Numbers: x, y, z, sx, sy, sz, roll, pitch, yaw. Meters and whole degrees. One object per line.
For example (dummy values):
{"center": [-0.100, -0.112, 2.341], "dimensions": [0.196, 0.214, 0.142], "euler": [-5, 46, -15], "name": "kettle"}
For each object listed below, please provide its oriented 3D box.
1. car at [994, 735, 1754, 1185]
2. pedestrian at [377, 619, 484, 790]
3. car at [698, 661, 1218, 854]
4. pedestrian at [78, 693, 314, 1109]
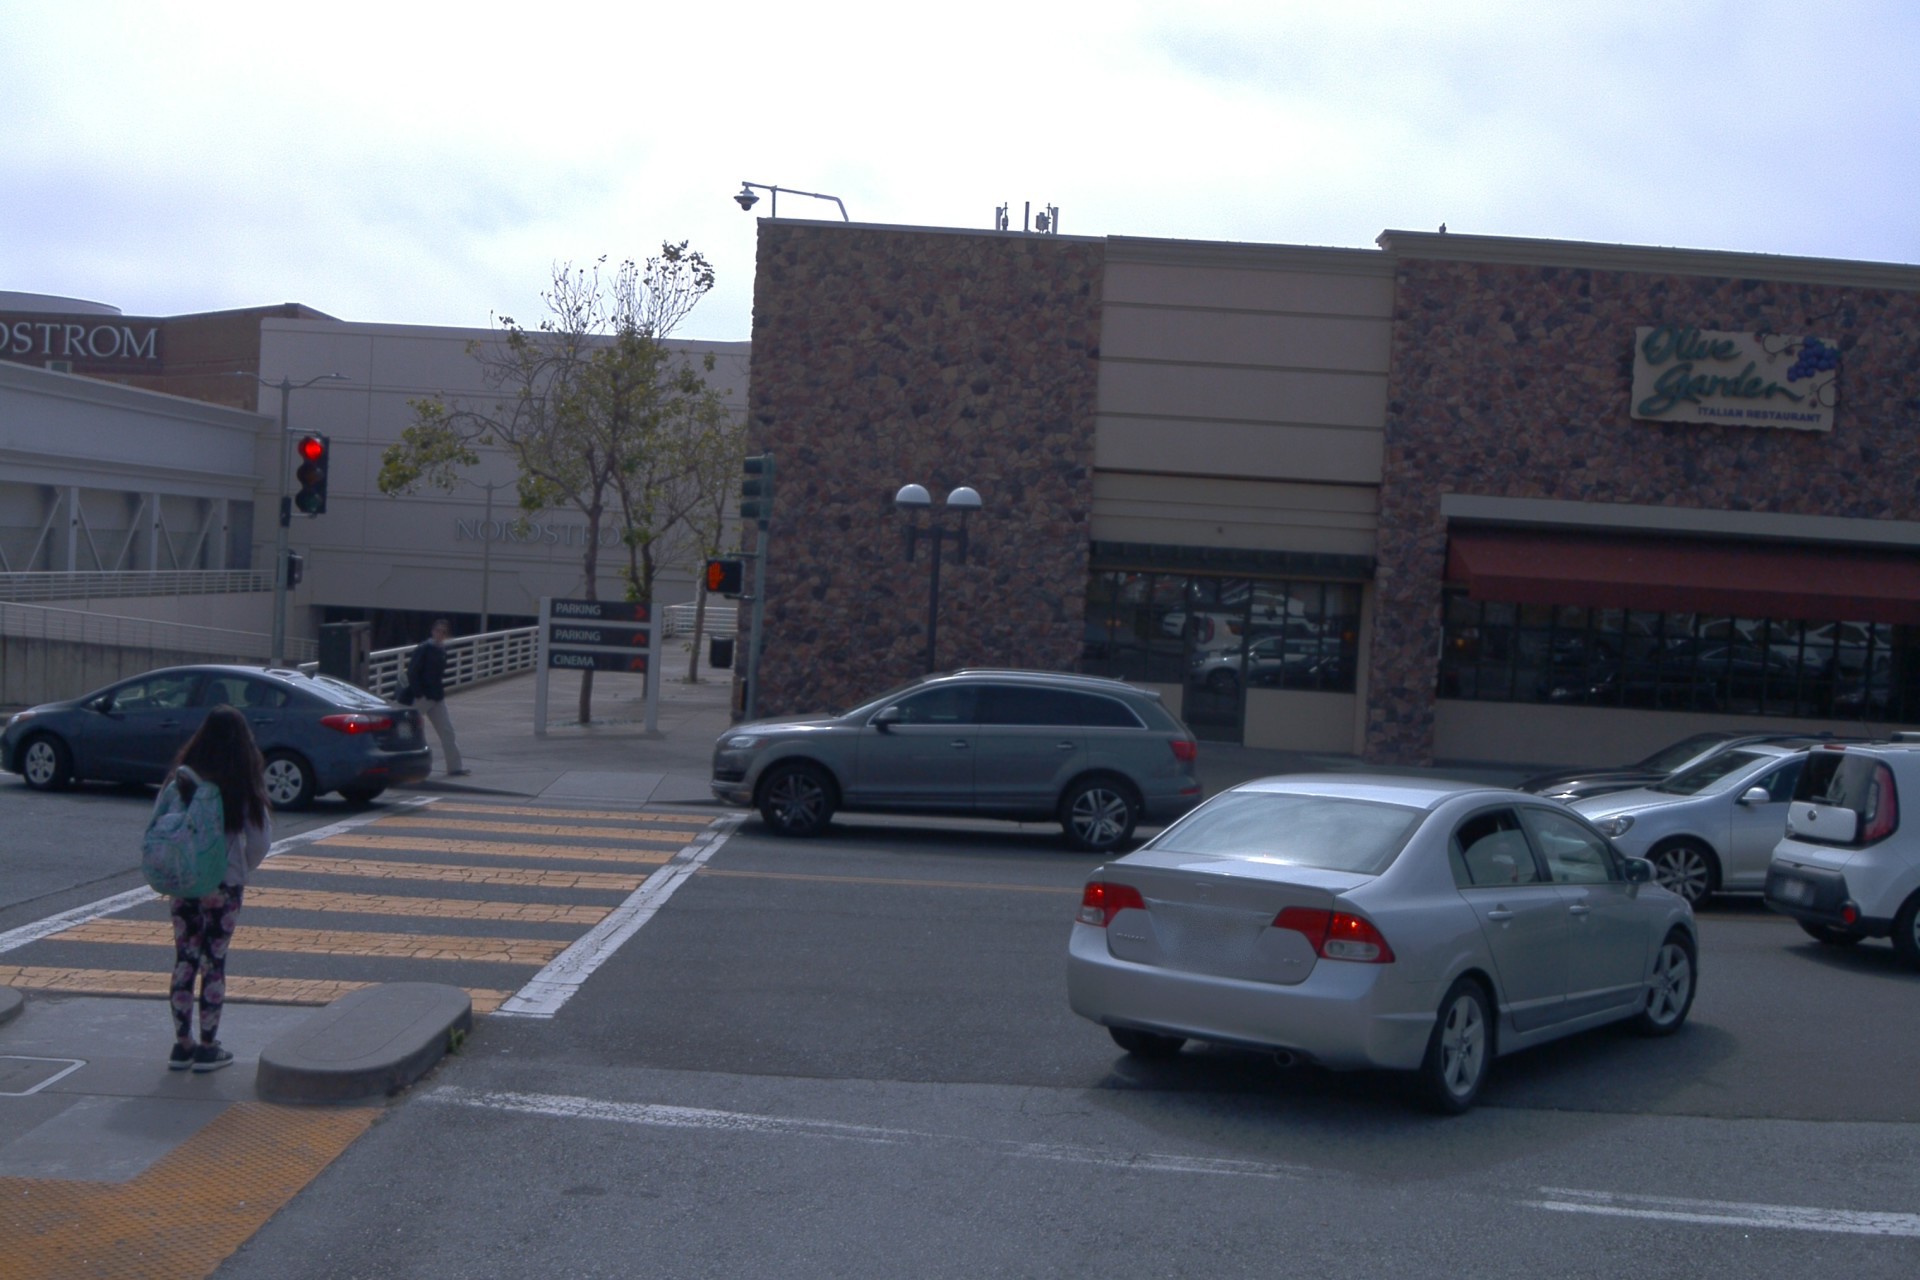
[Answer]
{"center": [2.311, 1.382, 10.520], "dimensions": [2.057, 1.520, 4.320], "euler": [0, 1, 39], "name": "car"}
{"center": [-6.198, 0.742, 24.109], "dimensions": [0.976, 1.960, 0.860], "euler": [0, 1, 6], "name": "pedestrian"}
{"center": [-0.031, 1.156, 21.157], "dimensions": [5.062, 1.820, 2.207], "euler": [0, 1, 0], "name": "car"}
{"center": [-3.312, 1.091, 8.995], "dimensions": [0.722, 1.680, 0.958], "euler": [0, 1, -4], "name": "pedestrian"}
